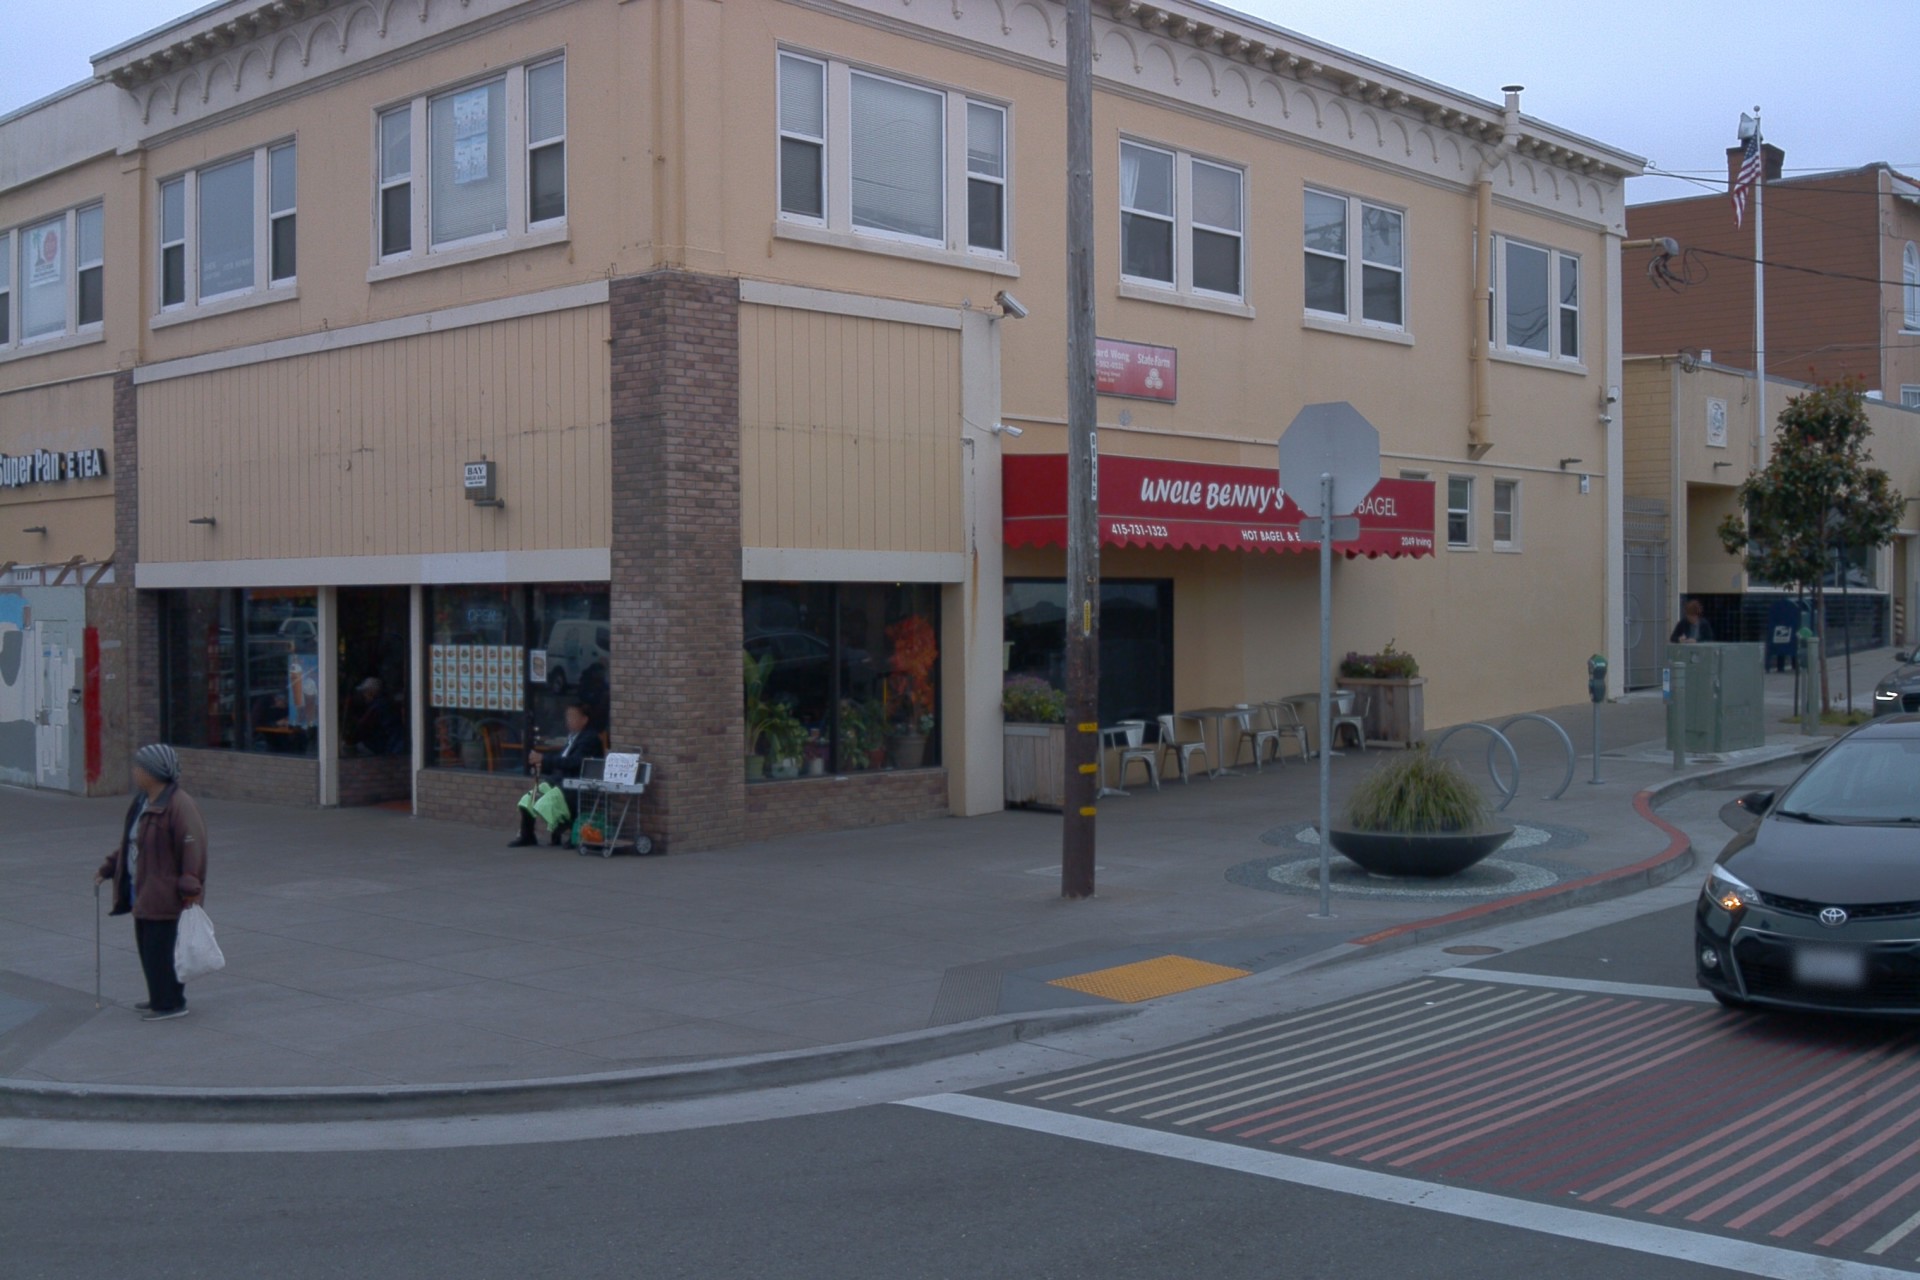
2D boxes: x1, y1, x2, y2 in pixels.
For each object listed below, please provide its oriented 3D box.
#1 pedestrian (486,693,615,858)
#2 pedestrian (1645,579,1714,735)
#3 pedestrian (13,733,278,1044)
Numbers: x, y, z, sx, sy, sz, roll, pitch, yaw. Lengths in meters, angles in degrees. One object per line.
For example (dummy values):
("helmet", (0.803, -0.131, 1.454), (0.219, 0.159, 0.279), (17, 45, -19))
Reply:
("pedestrian", (-3.609, 1.170, 18.186), (0.878, 1.374, 0.735), (1, 1, 43))
("pedestrian", (9.530, 0.217, 27.355), (0.739, 2.018, 0.670), (0, 1, 31))
("pedestrian", (-4.294, 1.262, 10.900), (1.076, 1.477, 0.825), (0, 1, 33))
